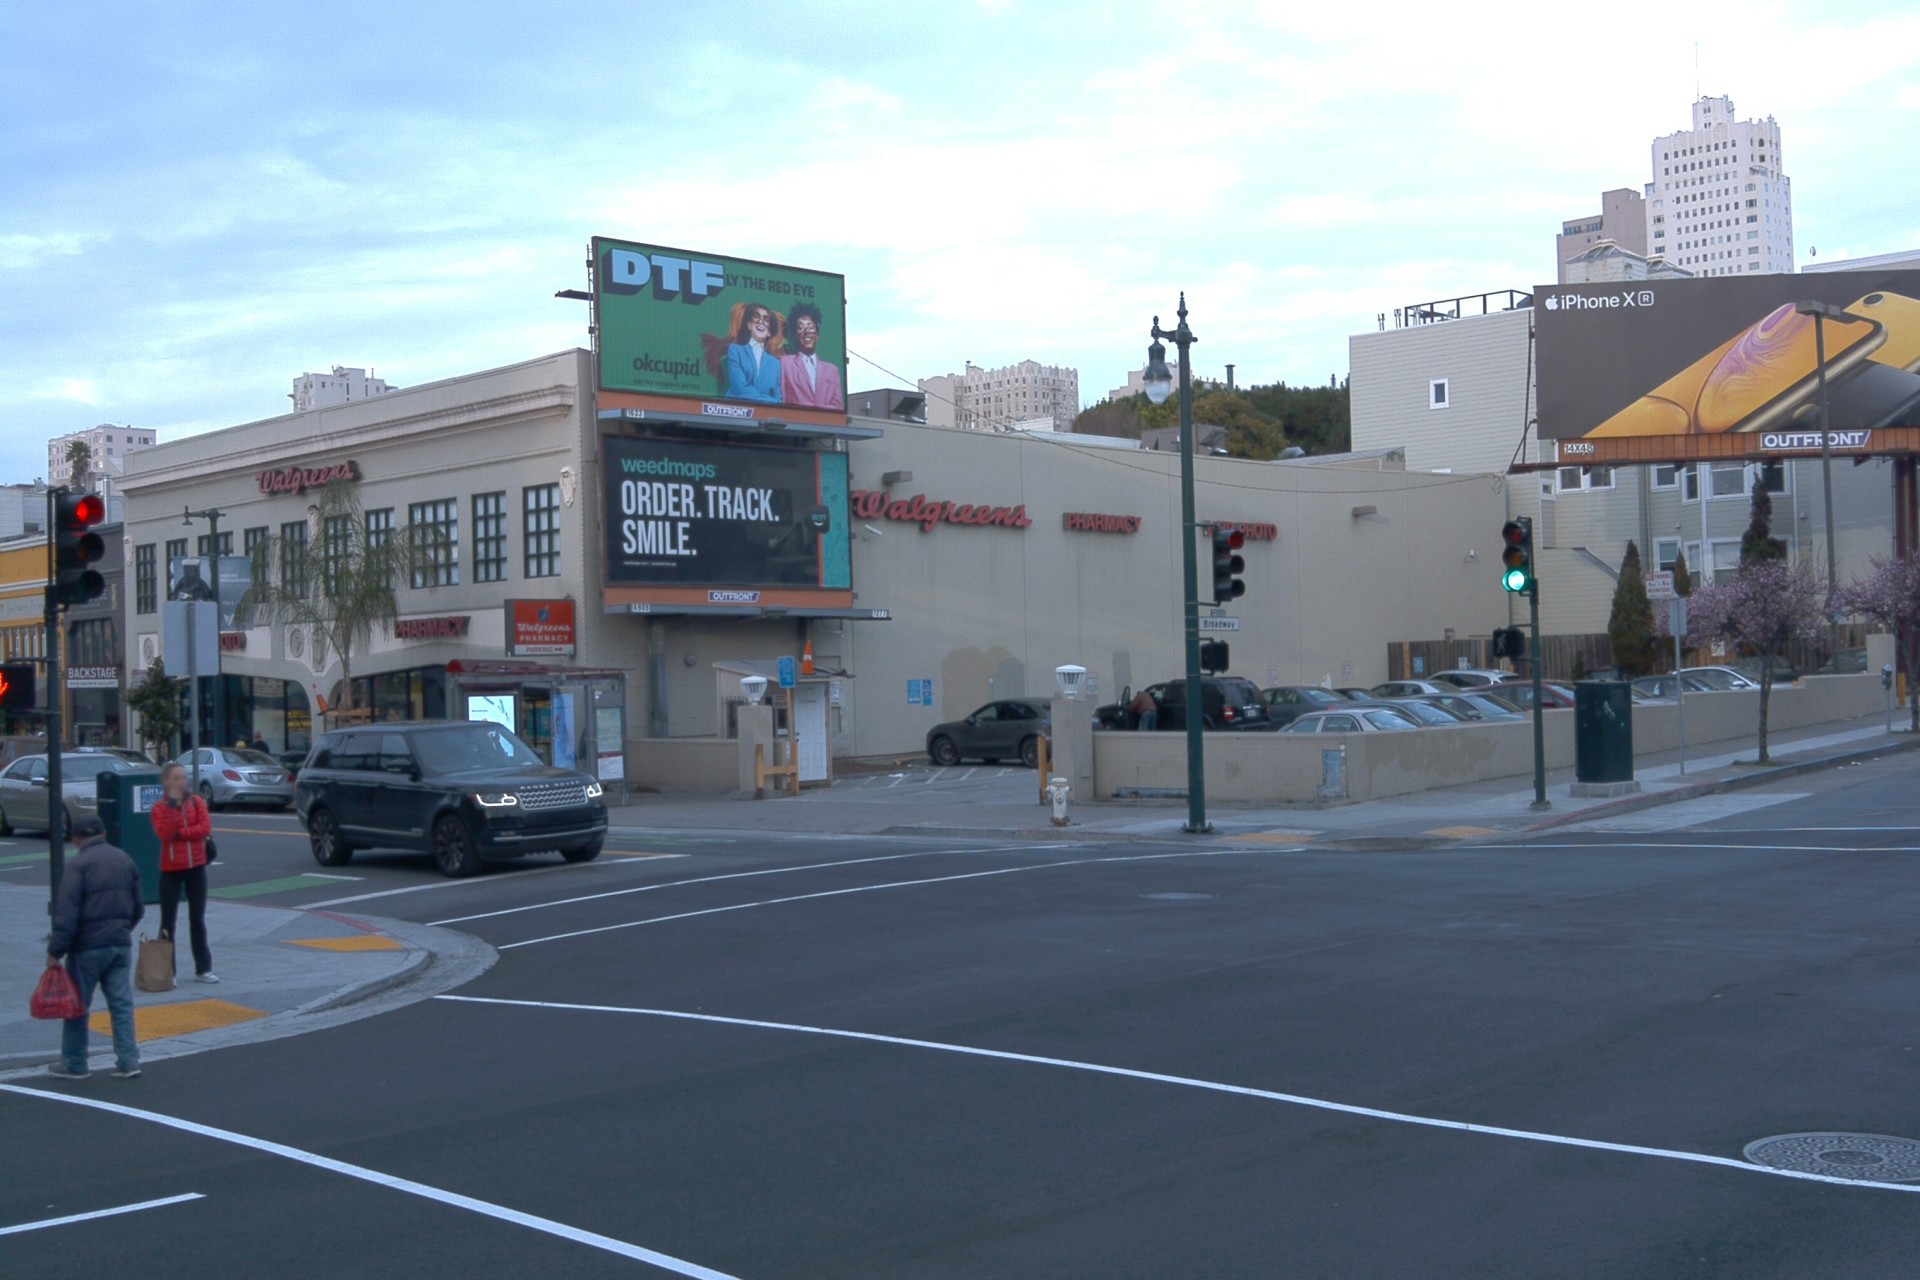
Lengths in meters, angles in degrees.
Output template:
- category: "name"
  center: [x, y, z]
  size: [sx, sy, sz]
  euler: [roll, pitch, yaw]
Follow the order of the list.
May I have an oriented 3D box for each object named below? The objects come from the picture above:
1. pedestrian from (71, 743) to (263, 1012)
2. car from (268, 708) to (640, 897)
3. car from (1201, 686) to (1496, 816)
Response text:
- category: "pedestrian"
  center: [-6.033, 1.763, 15.745]
  size: [0.861, 1.879, 1.070]
  euler: [2, 1, 40]
- category: "car"
  center: [-6.504, 1.939, 26.163]
  size: [2.225, 1.890, 5.170]
  euler: [0, 1, -45]
- category: "car"
  center: [6.747, 1.868, 36.246]
  size: [4.622, 1.949, 2.162]
  euler: [2, 1, 44]
